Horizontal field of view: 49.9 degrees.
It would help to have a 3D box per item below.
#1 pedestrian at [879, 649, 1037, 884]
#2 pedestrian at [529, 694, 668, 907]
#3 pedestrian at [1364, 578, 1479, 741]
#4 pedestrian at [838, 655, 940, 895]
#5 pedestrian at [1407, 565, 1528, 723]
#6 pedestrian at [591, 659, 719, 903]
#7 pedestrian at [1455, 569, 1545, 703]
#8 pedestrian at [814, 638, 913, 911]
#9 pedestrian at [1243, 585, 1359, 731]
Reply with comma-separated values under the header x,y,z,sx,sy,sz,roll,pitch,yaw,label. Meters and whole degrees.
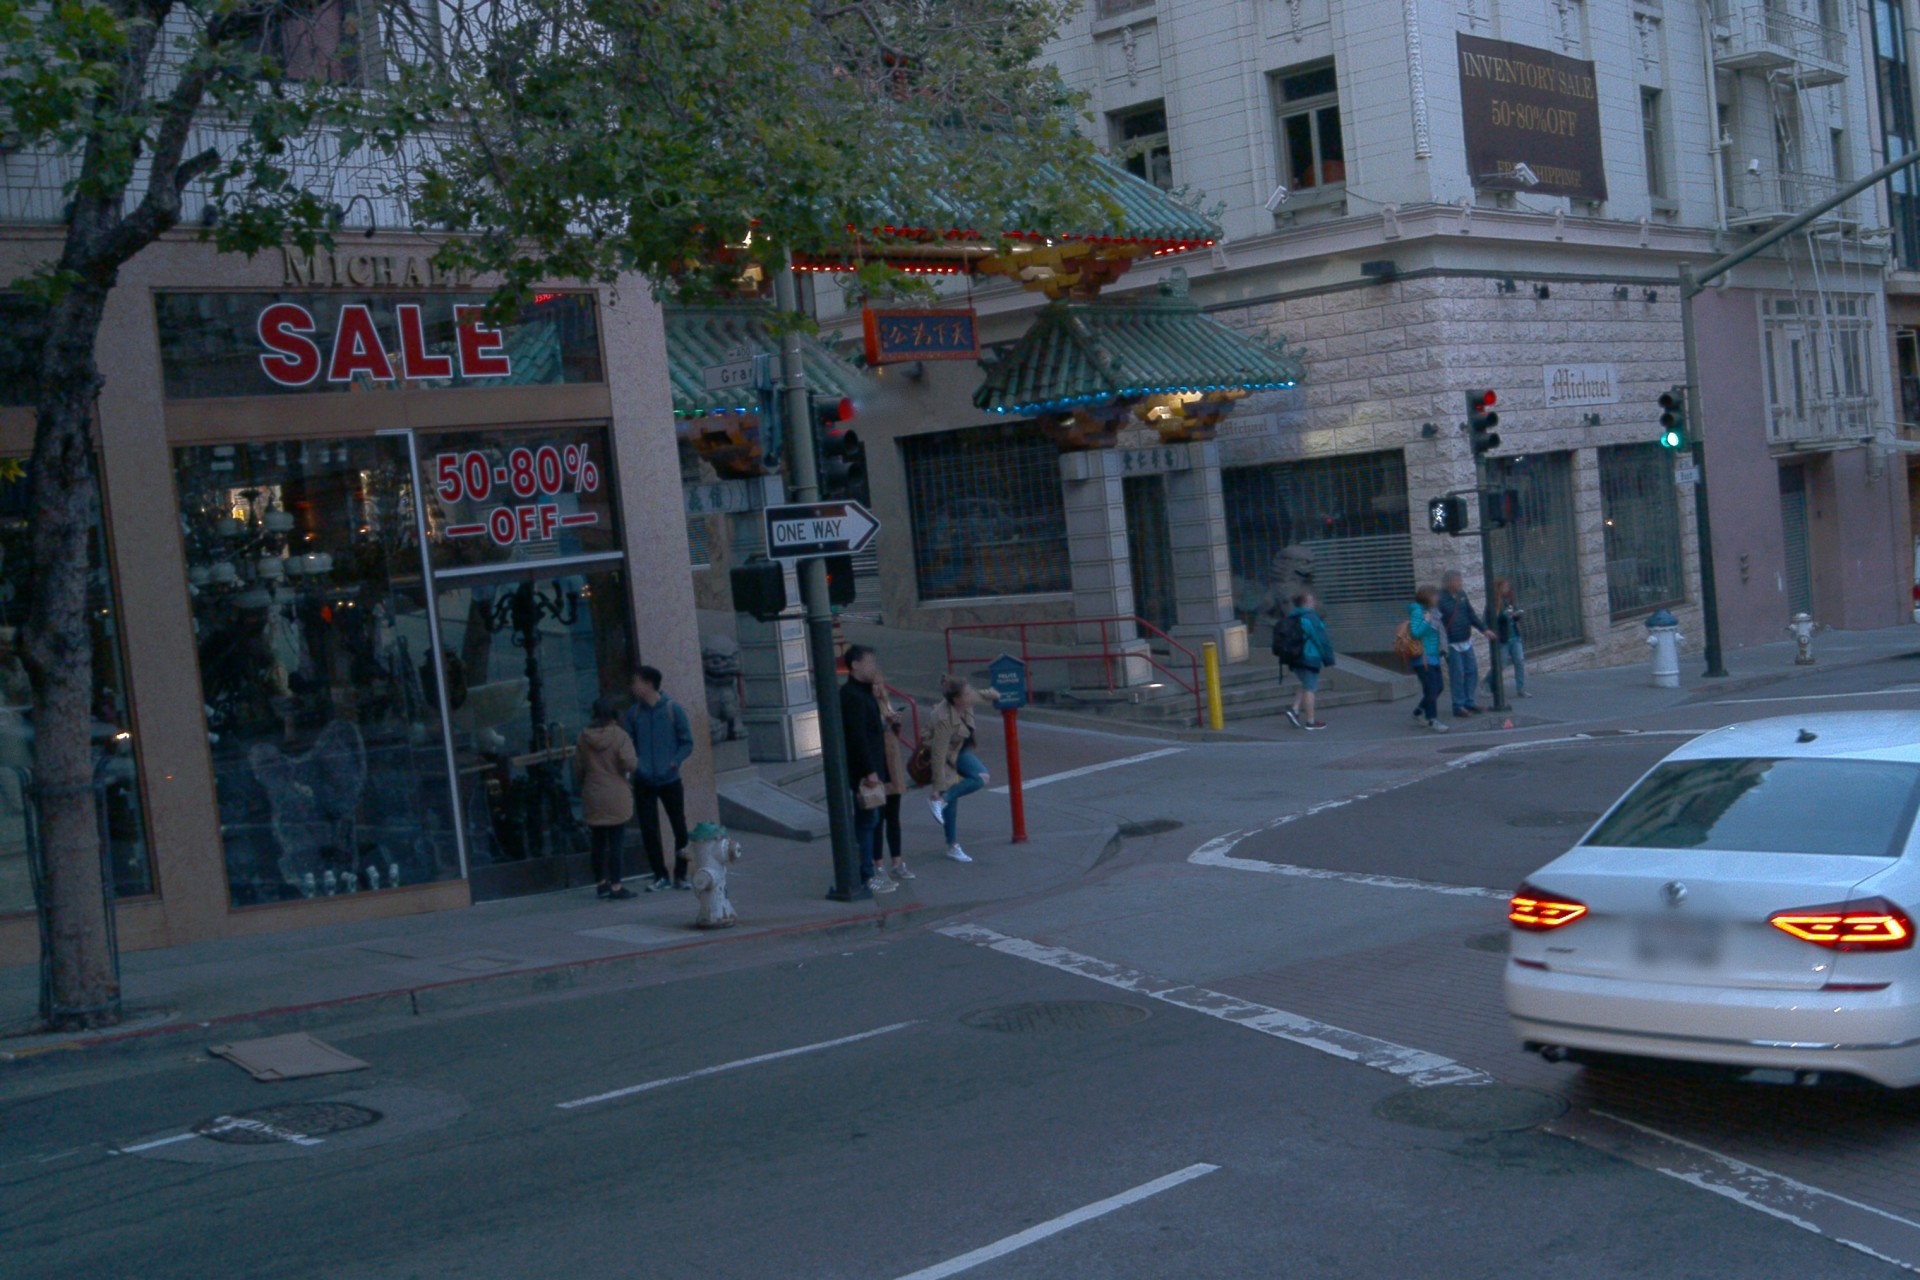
x,y,z,sx,sy,sz,roll,pitch,yaw,label
-0.014,1.032,17.450,0.817,1.880,1.093,1,1,40,pedestrian
-2.818,1.232,16.127,0.787,1.580,0.744,0,1,22,pedestrian
5.391,0.211,24.124,0.927,1.850,0.934,-1,1,-35,pedestrian
-0.569,1.065,16.646,0.531,1.880,0.637,0,1,38,pedestrian
6.026,0.037,24.528,0.964,1.820,1.000,-1,1,-35,pedestrian
-2.454,1.106,16.626,0.716,1.880,0.724,0,1,37,pedestrian
6.849,-0.058,26.165,0.754,1.660,0.818,-1,1,-40,pedestrian
-0.752,1.024,16.108,0.546,2.070,0.609,0,1,25,pedestrian
4.096,0.202,24.770,0.989,1.710,0.971,-1,1,-42,pedestrian
